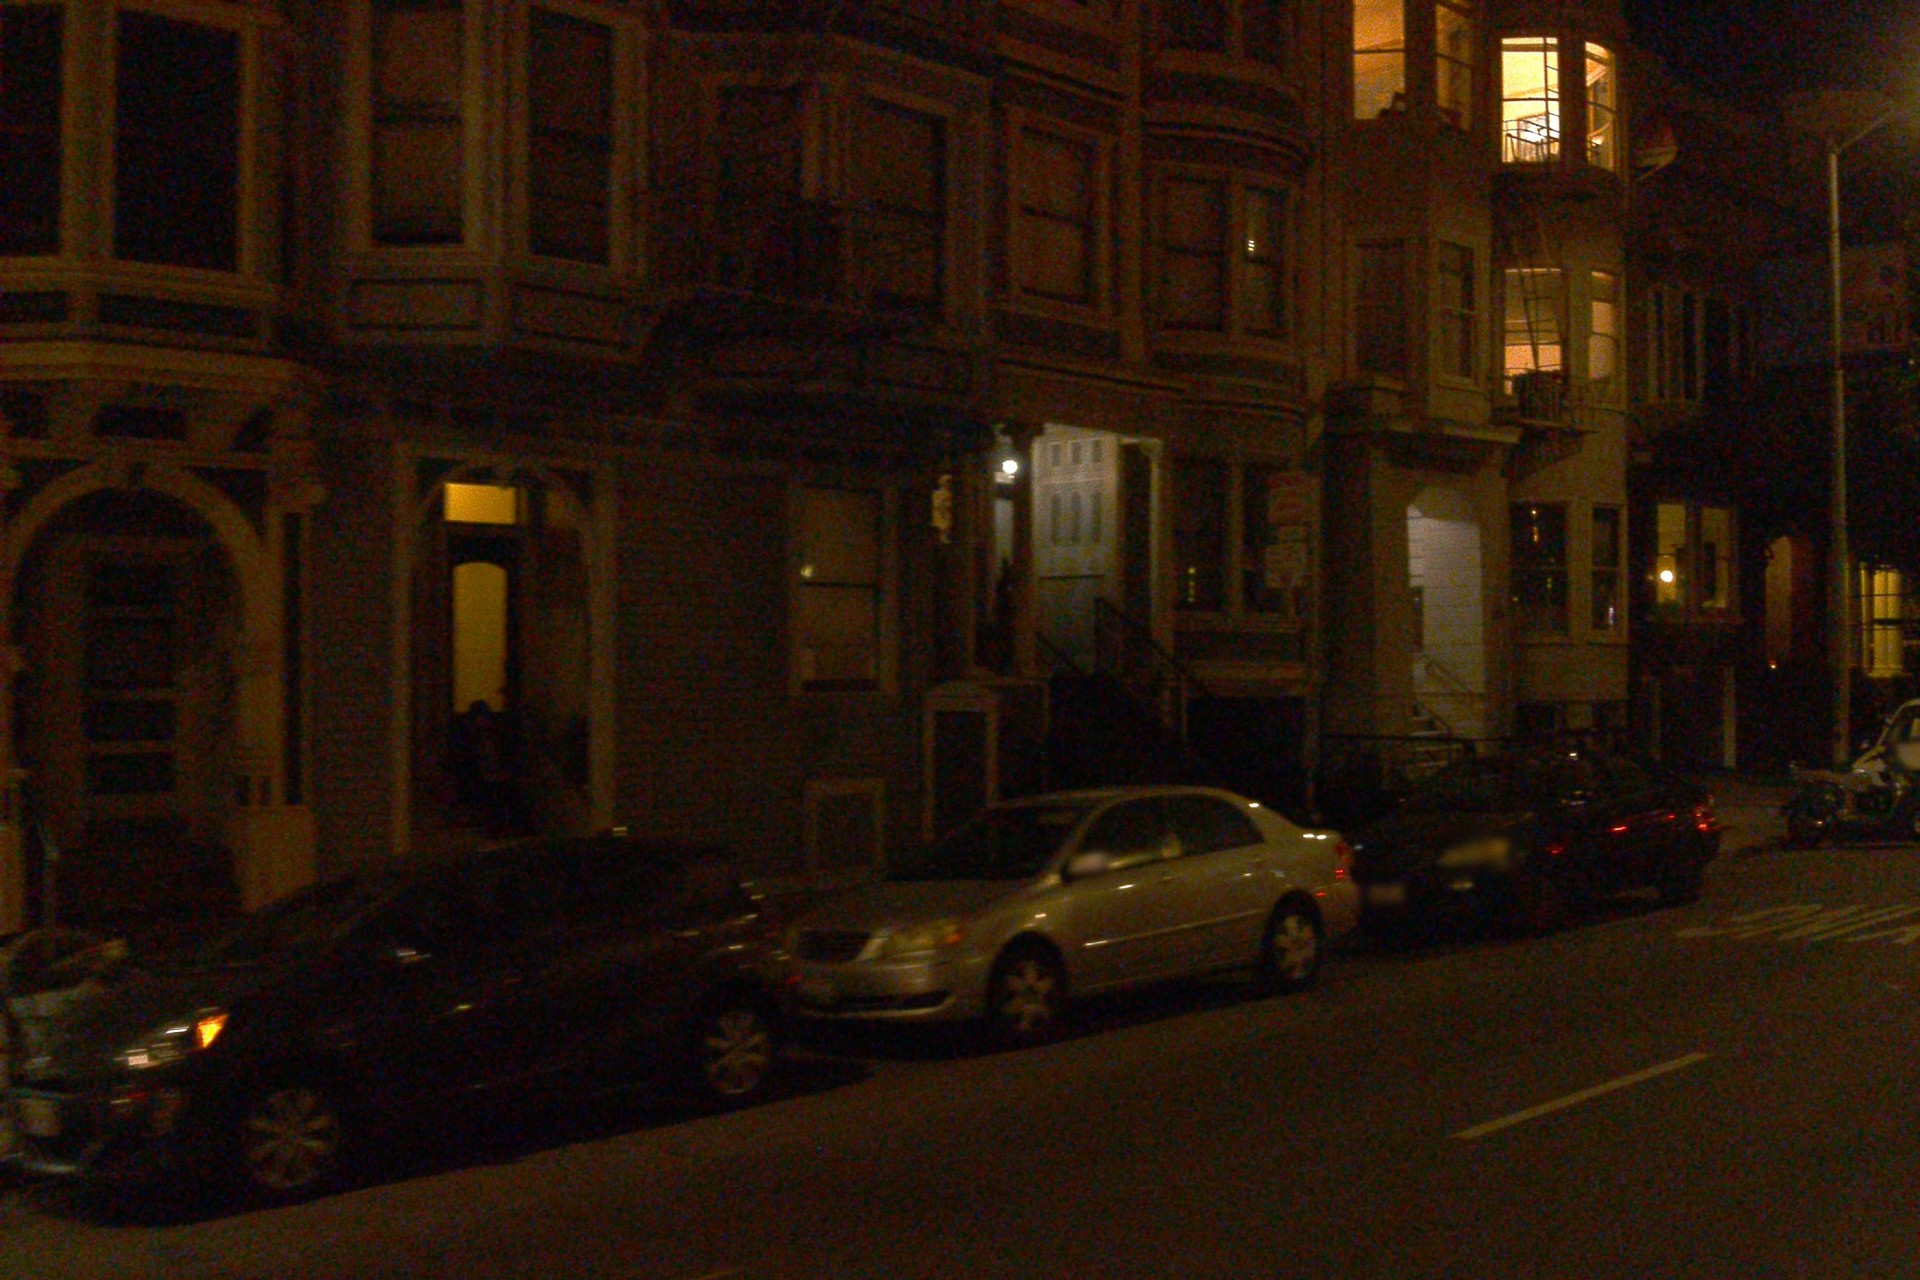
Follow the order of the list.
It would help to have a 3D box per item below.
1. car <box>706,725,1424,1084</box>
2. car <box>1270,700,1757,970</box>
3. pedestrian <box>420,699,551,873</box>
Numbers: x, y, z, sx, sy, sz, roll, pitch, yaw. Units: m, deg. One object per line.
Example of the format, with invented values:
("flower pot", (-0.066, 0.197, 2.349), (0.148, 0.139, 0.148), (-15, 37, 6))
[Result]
("car", (0.859, 1.521, 13.394), (4.828, 1.690, 1.857), (0, 1, -44))
("car", (4.854, 1.518, 17.594), (2.020, 1.810, 4.579), (2, 1, 44))
("pedestrian", (-4.032, 1.216, 17.441), (0.844, 1.380, 0.744), (2, 1, 45))
